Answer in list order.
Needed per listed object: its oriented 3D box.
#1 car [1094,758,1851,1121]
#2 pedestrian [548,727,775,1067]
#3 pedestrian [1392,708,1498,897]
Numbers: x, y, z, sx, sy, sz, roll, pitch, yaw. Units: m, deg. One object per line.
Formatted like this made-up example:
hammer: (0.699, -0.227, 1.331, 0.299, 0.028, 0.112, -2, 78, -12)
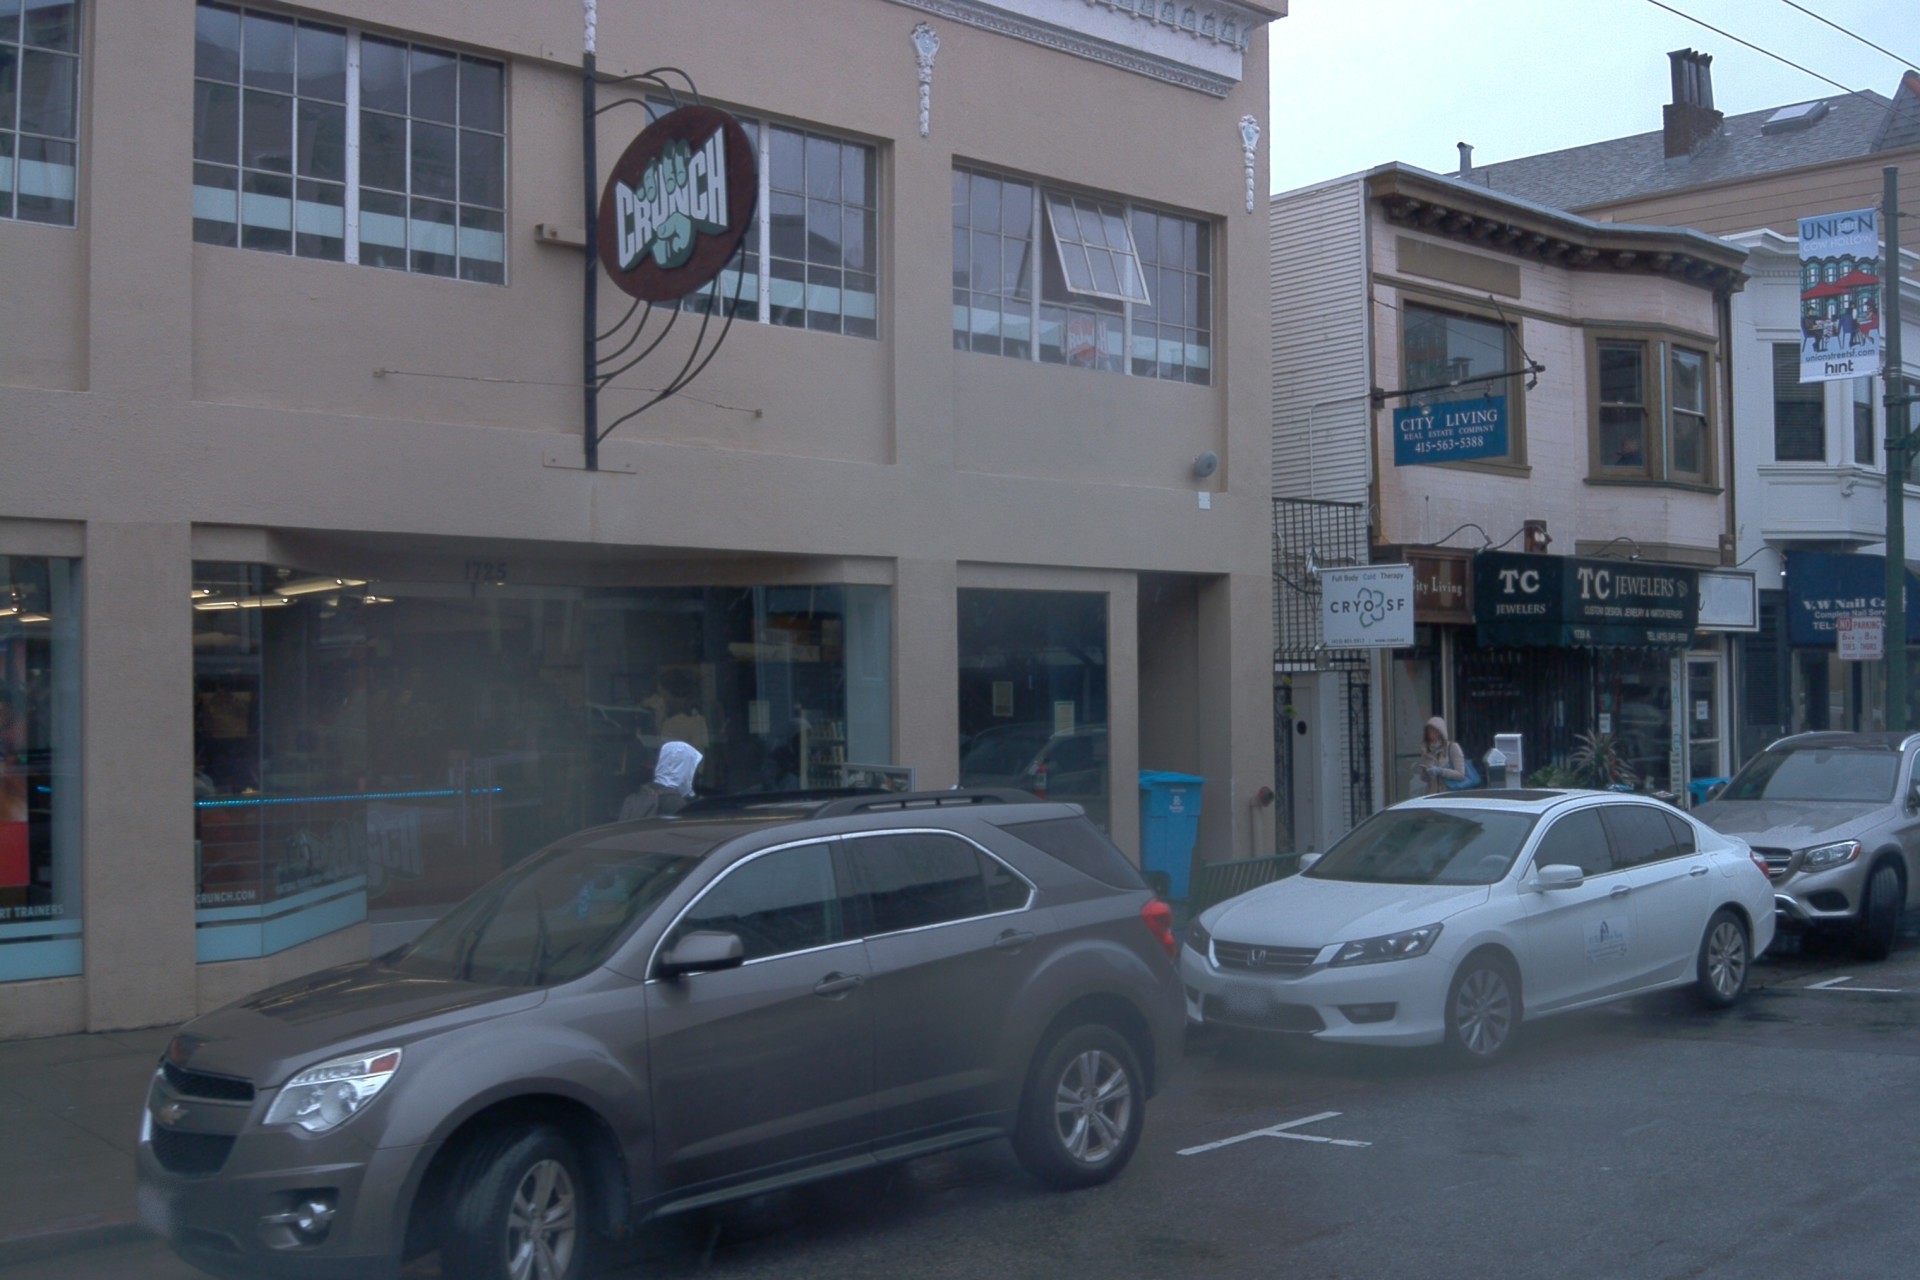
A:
car: (3.416, 1.675, 13.091, 5.148, 1.540, 2.124, 0, 1, -42)
pedestrian: (-1.723, 1.437, 11.972, 1.056, 1.800, 0.729, 0, 1, -43)
pedestrian: (4.653, 1.533, 19.832, 0.646, 1.720, 0.803, 2, 1, 43)
